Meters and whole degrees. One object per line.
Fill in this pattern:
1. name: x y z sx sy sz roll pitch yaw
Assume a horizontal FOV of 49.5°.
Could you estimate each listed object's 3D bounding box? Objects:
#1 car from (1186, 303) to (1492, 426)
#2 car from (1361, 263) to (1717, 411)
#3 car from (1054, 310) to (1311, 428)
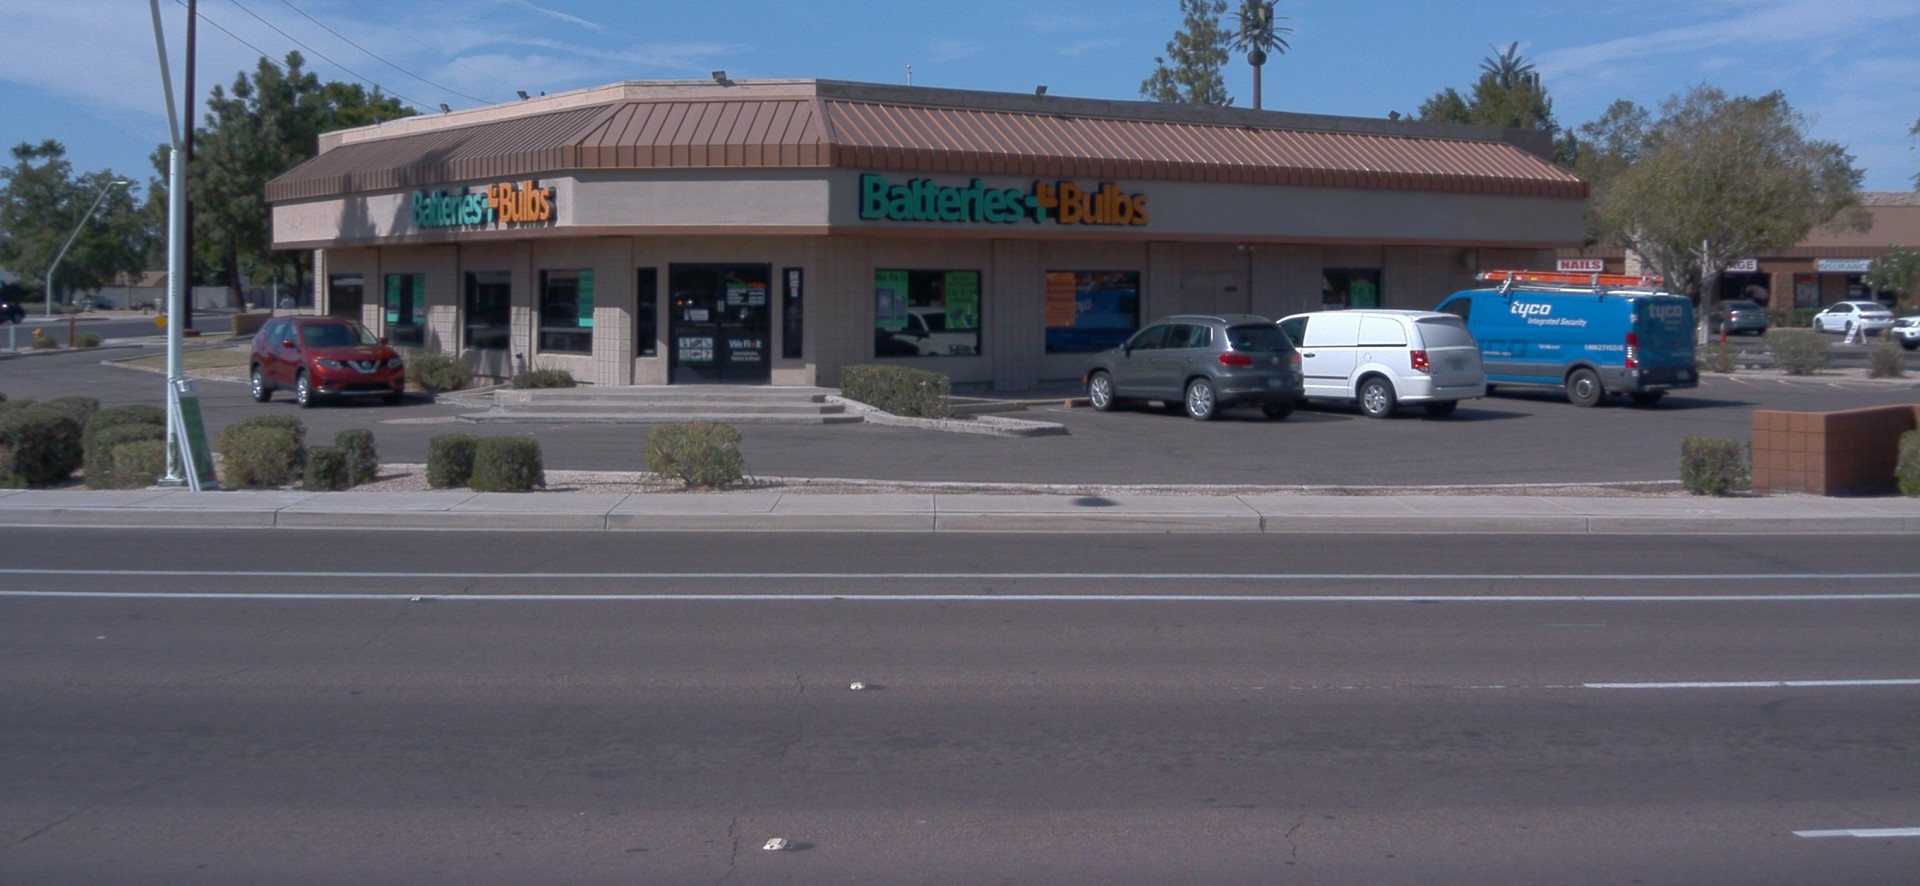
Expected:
1. car: 6.368 -1.409 35.421 2.099 1.836 4.810 -3 5 -43
2. car: 10.637 -2.090 38.775 2.658 2.494 6.060 -2 5 -36
3. car: 3.589 -1.286 34.345 1.956 1.676 4.282 -2 5 -33
